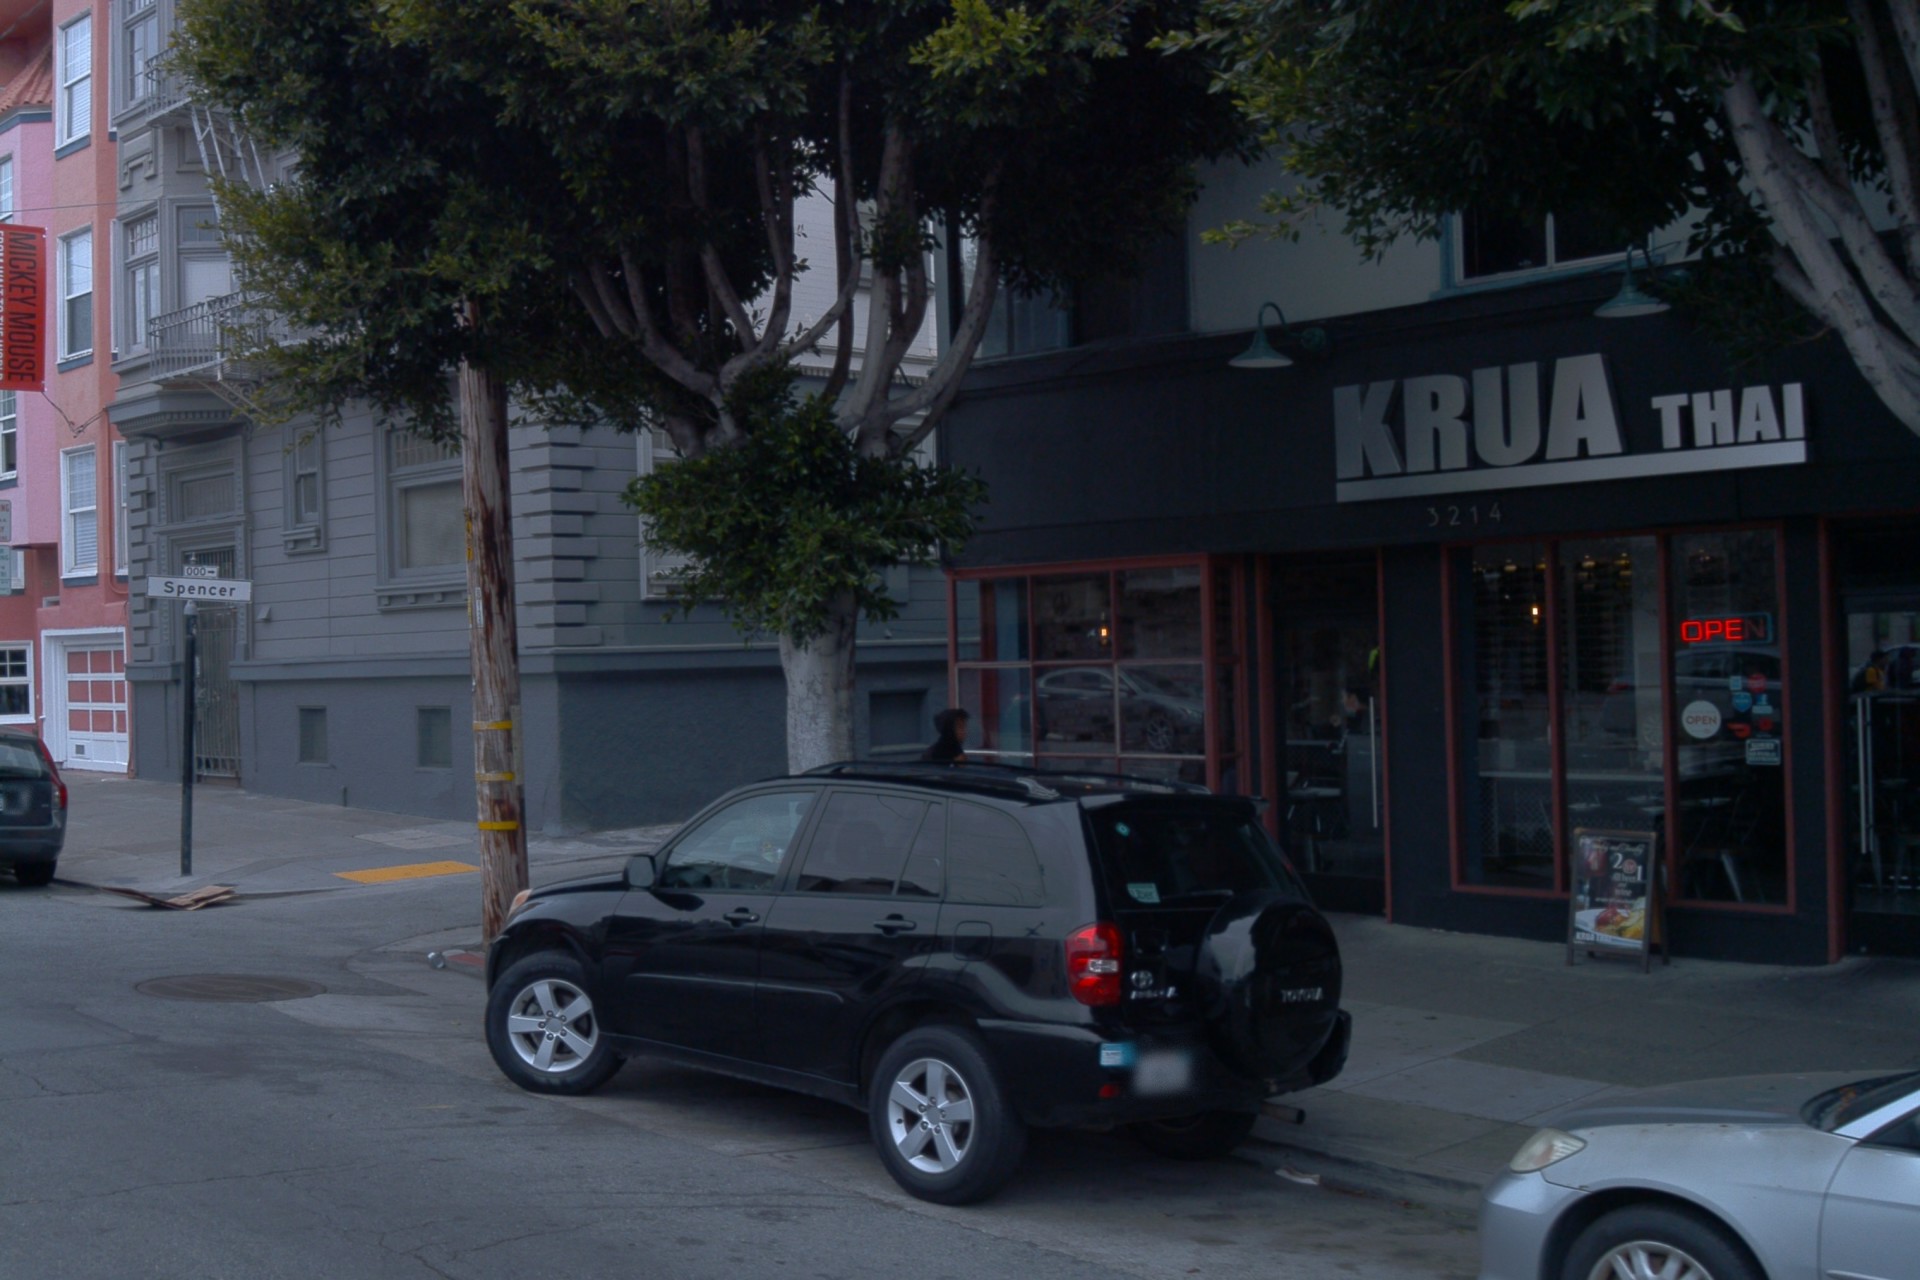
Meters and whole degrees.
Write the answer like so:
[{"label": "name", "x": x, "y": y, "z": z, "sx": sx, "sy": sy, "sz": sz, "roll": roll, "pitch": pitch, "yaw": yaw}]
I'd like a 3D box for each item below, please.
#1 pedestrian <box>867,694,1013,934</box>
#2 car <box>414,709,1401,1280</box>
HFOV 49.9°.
[{"label": "pedestrian", "x": -0.142, "y": 1.219, "z": 14.823, "sx": 0.774, "sy": 1.630, "sz": 0.716, "roll": 0, "pitch": 1, "yaw": 39}, {"label": "car", "x": -0.428, "y": 1.353, "z": 9.460, "sx": 4.392, "sy": 1.890, "sz": 1.992, "roll": 0, "pitch": 1, "yaw": 43}]
